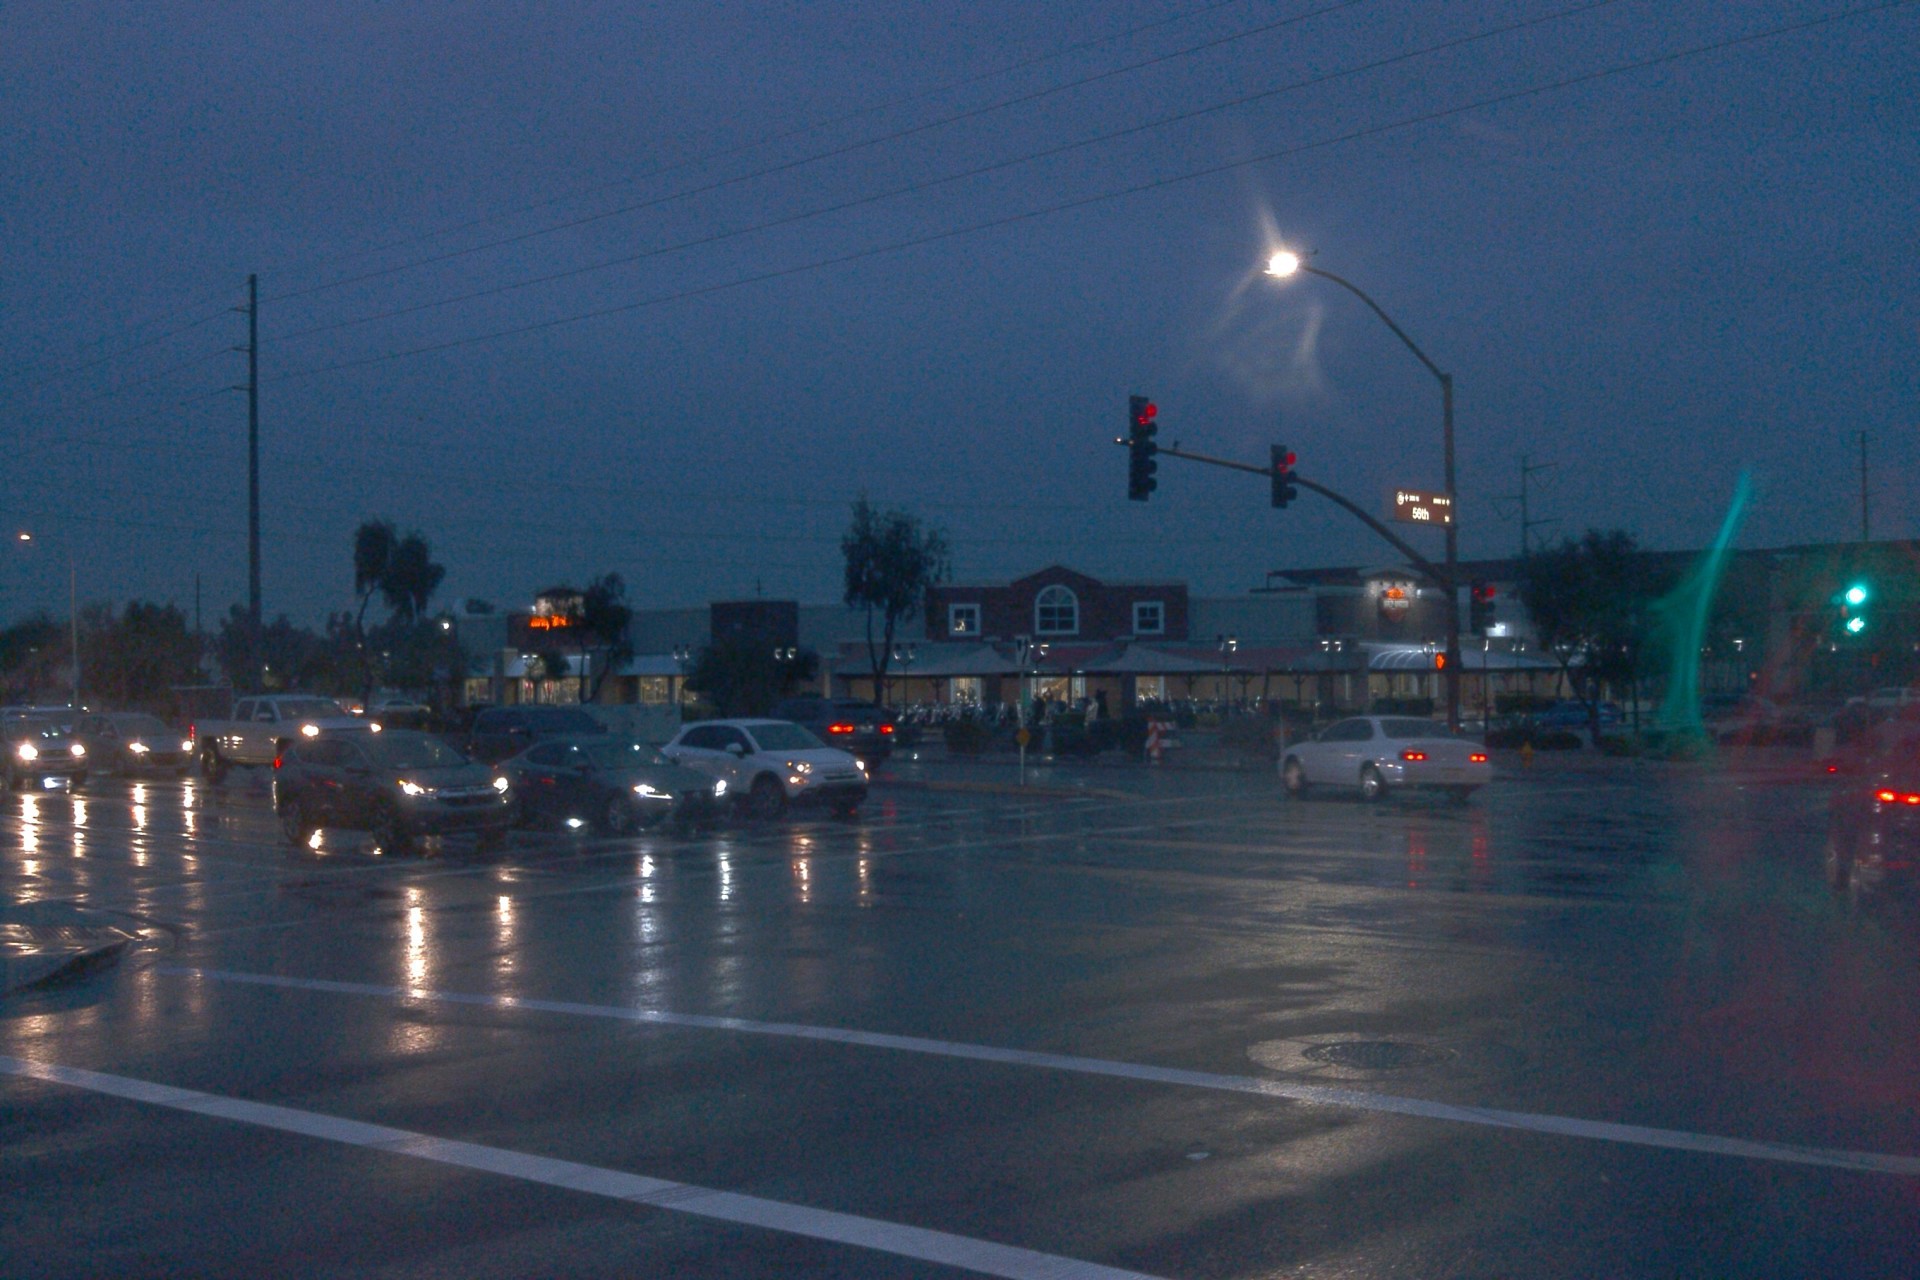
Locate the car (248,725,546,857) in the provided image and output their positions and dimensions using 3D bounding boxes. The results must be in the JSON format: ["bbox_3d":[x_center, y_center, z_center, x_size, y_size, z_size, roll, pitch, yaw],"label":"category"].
[{"bbox_3d":[-8.343,2.141,30.696,4.544,1.660,2.258,-1,-1,45],"label":"car"}]

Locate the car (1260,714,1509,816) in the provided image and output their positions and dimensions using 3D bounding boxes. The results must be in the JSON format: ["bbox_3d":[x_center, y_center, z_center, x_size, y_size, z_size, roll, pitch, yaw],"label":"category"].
[{"bbox_3d":[7.197,2.090,35.935,2.158,1.520,4.820,0,-1,-17],"label":"car"}]

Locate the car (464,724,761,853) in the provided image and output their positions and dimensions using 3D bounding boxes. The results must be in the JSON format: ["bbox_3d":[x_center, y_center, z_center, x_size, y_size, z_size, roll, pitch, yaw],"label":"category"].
[{"bbox_3d":[-5.492,2.245,32.605,4.666,1.730,2.267,-1,-1,45],"label":"car"}]

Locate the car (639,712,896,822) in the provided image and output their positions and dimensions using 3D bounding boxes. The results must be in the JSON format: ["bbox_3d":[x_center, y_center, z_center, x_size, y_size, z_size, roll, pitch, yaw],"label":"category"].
[{"bbox_3d":[-3.300,2.080,35.150,2.095,1.630,4.278,1,-1,-44],"label":"car"}]
